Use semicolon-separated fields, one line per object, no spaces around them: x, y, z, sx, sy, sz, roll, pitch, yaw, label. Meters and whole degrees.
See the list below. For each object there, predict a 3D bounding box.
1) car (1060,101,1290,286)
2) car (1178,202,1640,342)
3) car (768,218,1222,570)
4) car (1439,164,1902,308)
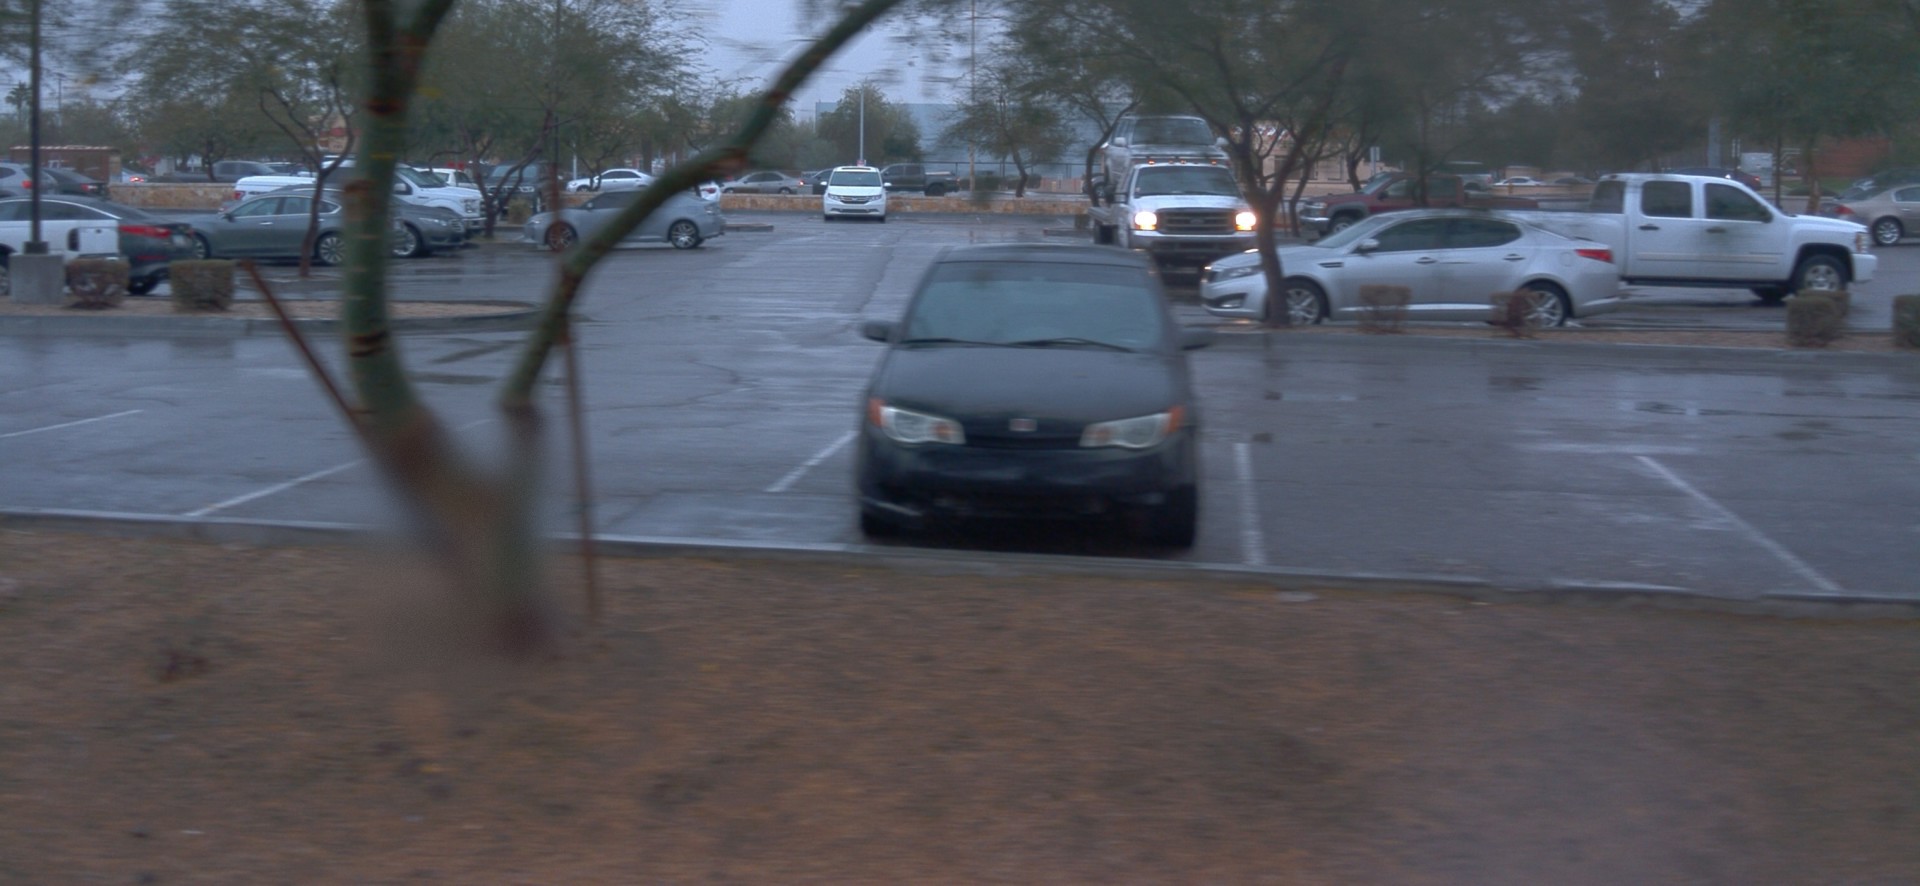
3.535;-4.300;36.509;2.854;2.828;8.829;0;5;-2;car
5.157;-2.027;24.407;4.942;1.536;2.209;0;4;-1;car
0.288;-0.452;11.383;1.965;1.504;4.675;1;5;3;car
10.103;-2.988;29.923;5.900;1.946;2.280;0;3;0;car
